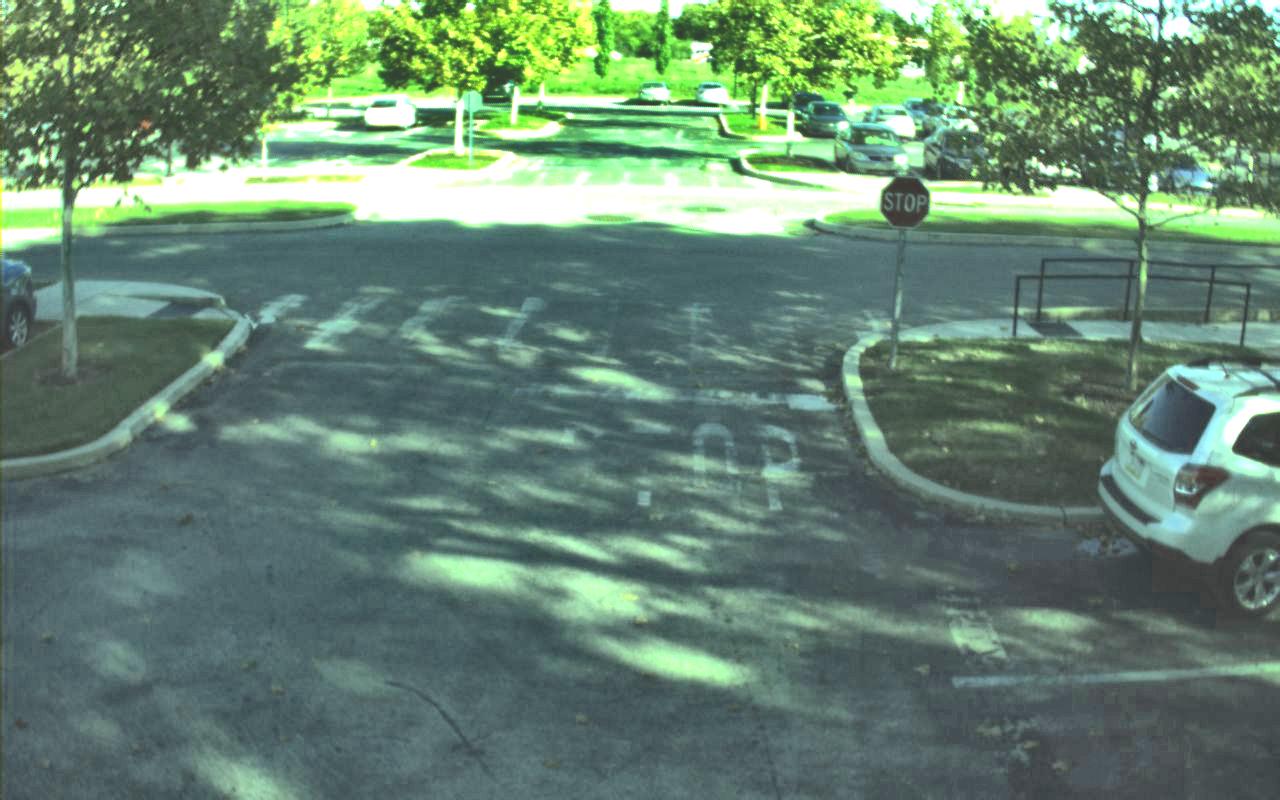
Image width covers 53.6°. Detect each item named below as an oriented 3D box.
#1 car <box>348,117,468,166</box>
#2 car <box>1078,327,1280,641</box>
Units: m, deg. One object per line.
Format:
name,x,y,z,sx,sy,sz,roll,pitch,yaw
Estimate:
car,-9.454,-10.487,49.985,4.520,1.663,1.986,1,16,7
car,5.858,0.546,8.798,4.423,1.728,1.978,-1,16,-1
